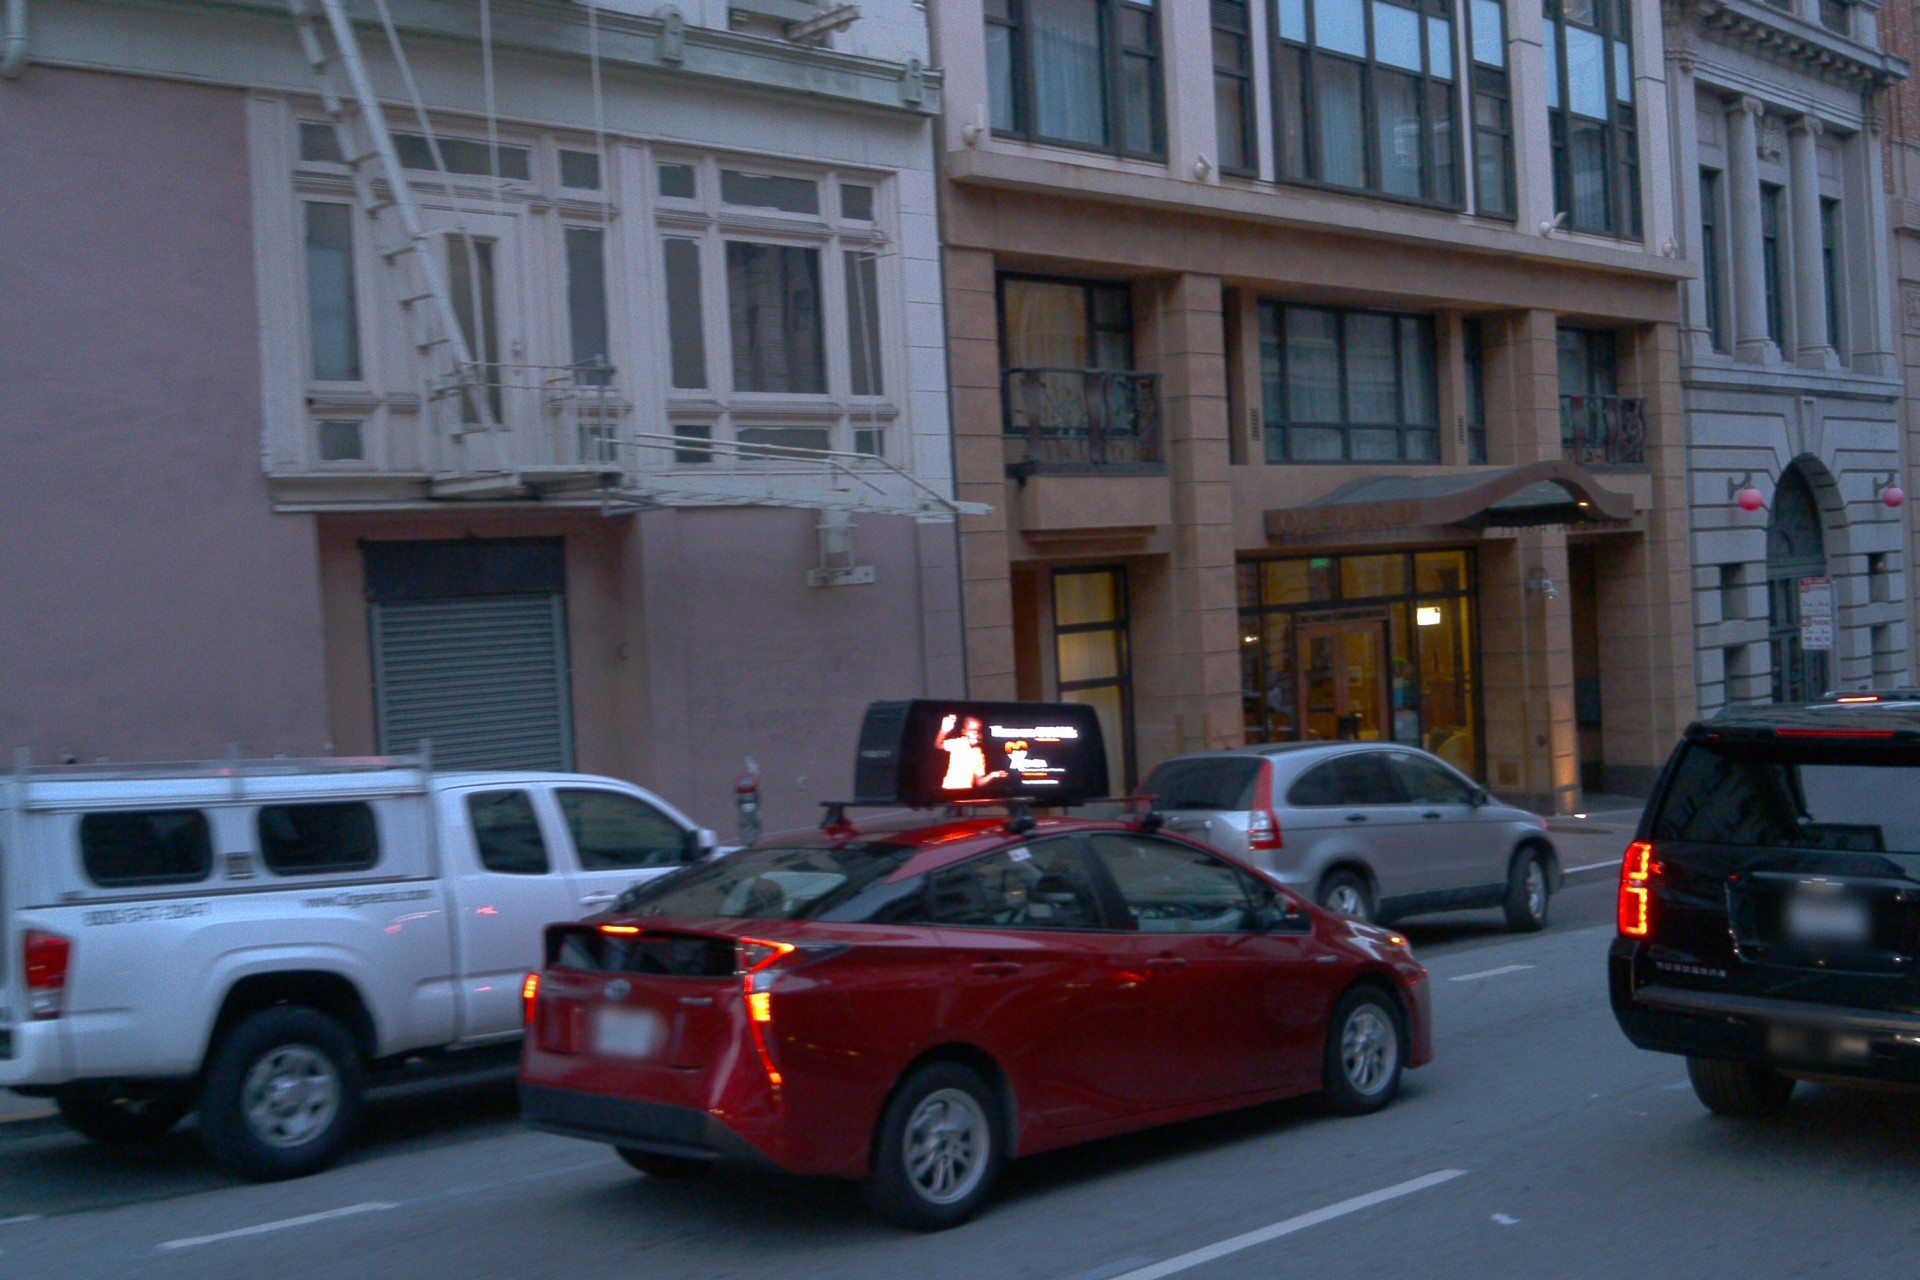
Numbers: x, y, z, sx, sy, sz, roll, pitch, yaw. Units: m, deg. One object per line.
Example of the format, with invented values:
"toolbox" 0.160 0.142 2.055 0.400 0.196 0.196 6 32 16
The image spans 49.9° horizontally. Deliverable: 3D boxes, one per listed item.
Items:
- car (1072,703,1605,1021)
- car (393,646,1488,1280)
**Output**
"car" 3.138 1.596 16.466 4.545 1.988 1.932 -1 1 -45
"car" 0.148 1.187 8.954 4.585 2.240 2.071 -1 1 -44
